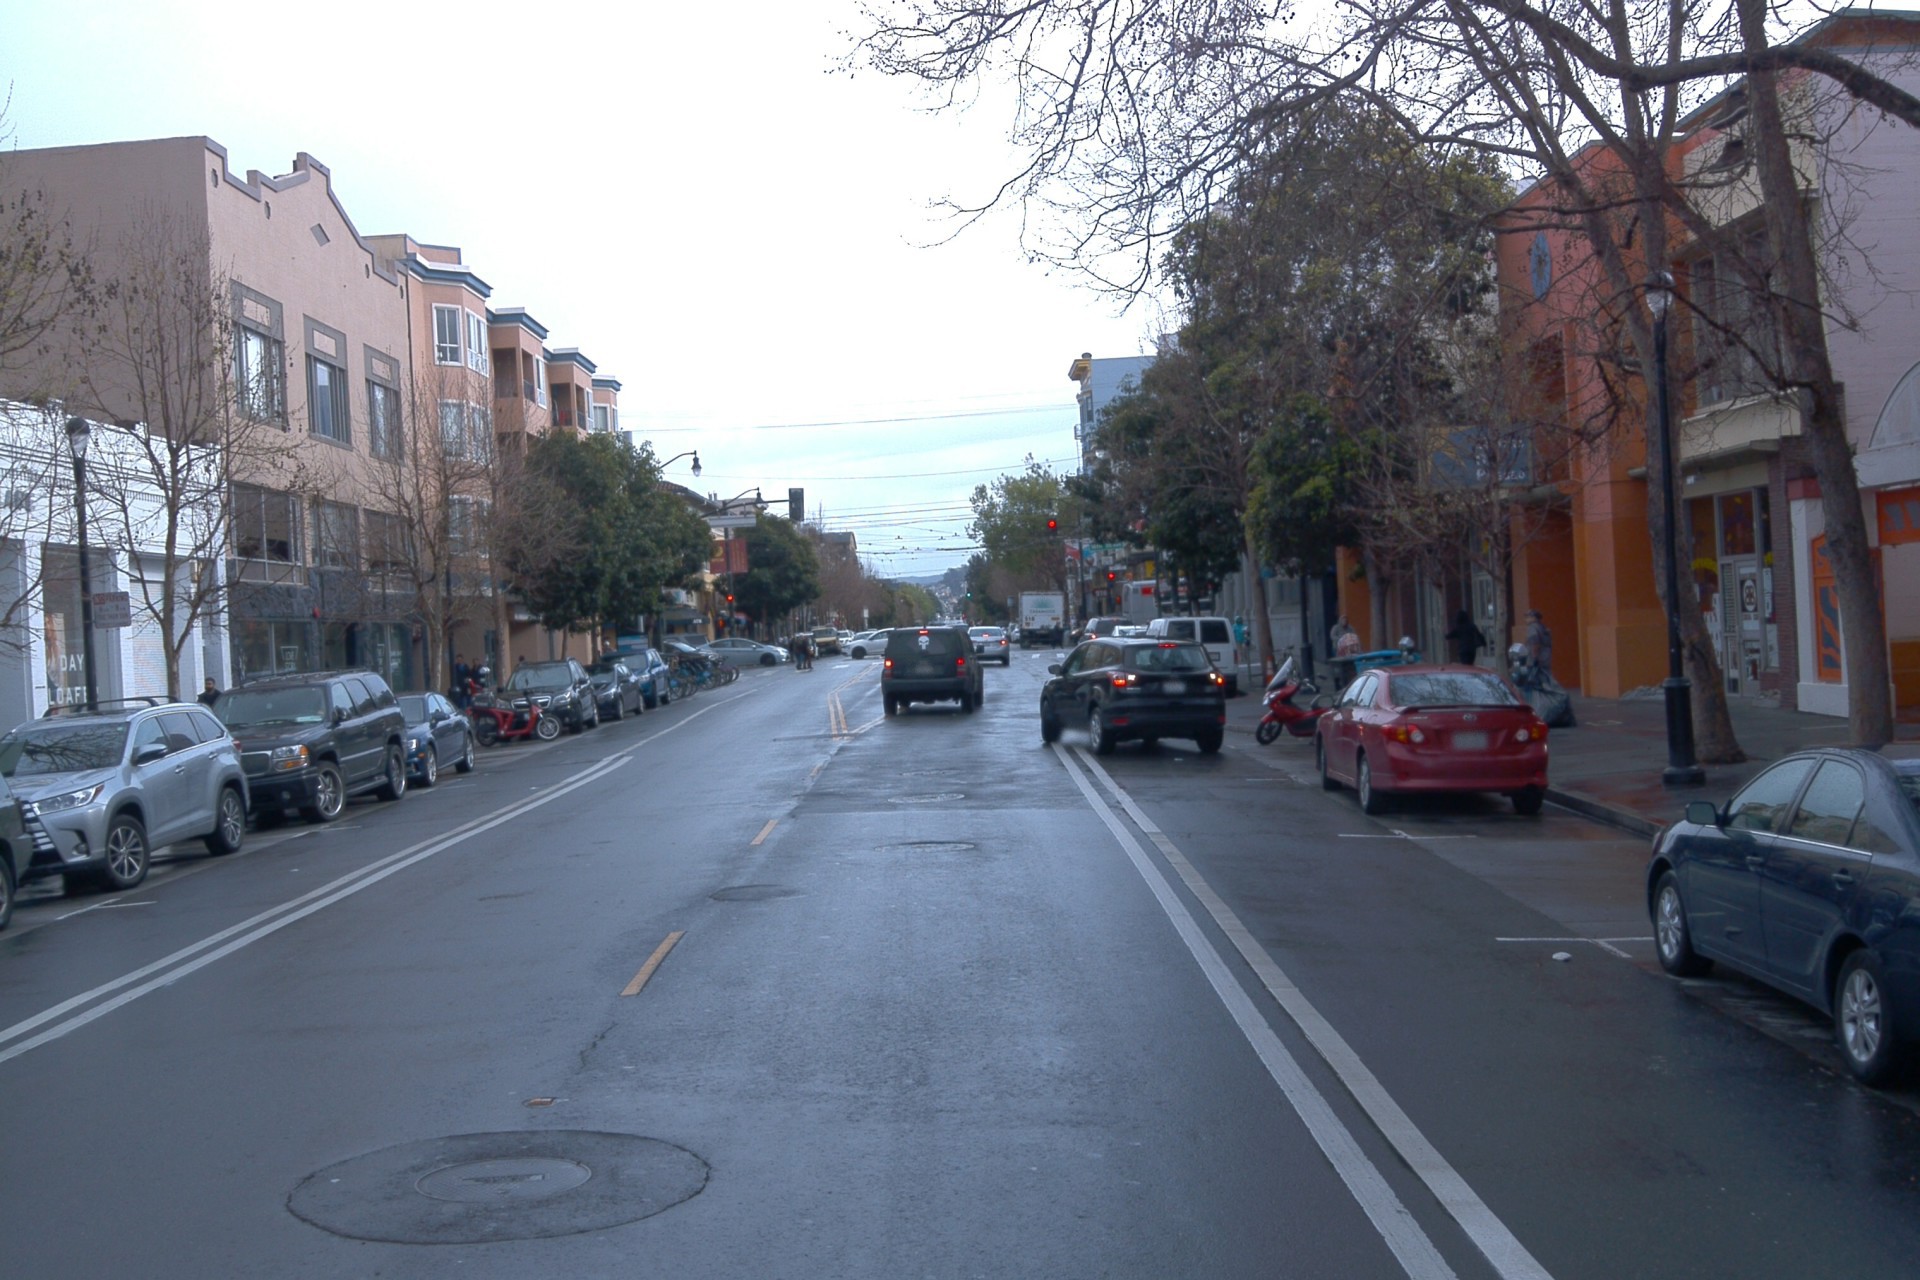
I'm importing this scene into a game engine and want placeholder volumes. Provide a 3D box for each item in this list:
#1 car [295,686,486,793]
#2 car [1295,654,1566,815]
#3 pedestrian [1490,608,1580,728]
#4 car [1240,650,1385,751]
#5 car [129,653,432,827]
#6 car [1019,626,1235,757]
[{"bbox_3d":[-8.845,1.504,32.126,1.835,1.430,4.463,0,0,-1],"label":"car"},{"bbox_3d":[4.856,0.921,21.718,1.872,1.470,4.354,1,0,0],"label":"car"},{"bbox_3d":[8.464,0.409,30.127,0.909,1.740,0.928,0,0,-15],"label":"pedestrian"},{"bbox_3d":[5.183,0.876,30.138,2.020,1.430,0.938,1,0,5],"label":"car"},{"bbox_3d":[-8.843,1.223,27.192,2.232,2.010,5.244,1,0,1],"label":"car"},{"bbox_3d":[2.368,0.694,30.174,2.042,1.780,4.268,0,0,-12],"label":"car"}]
